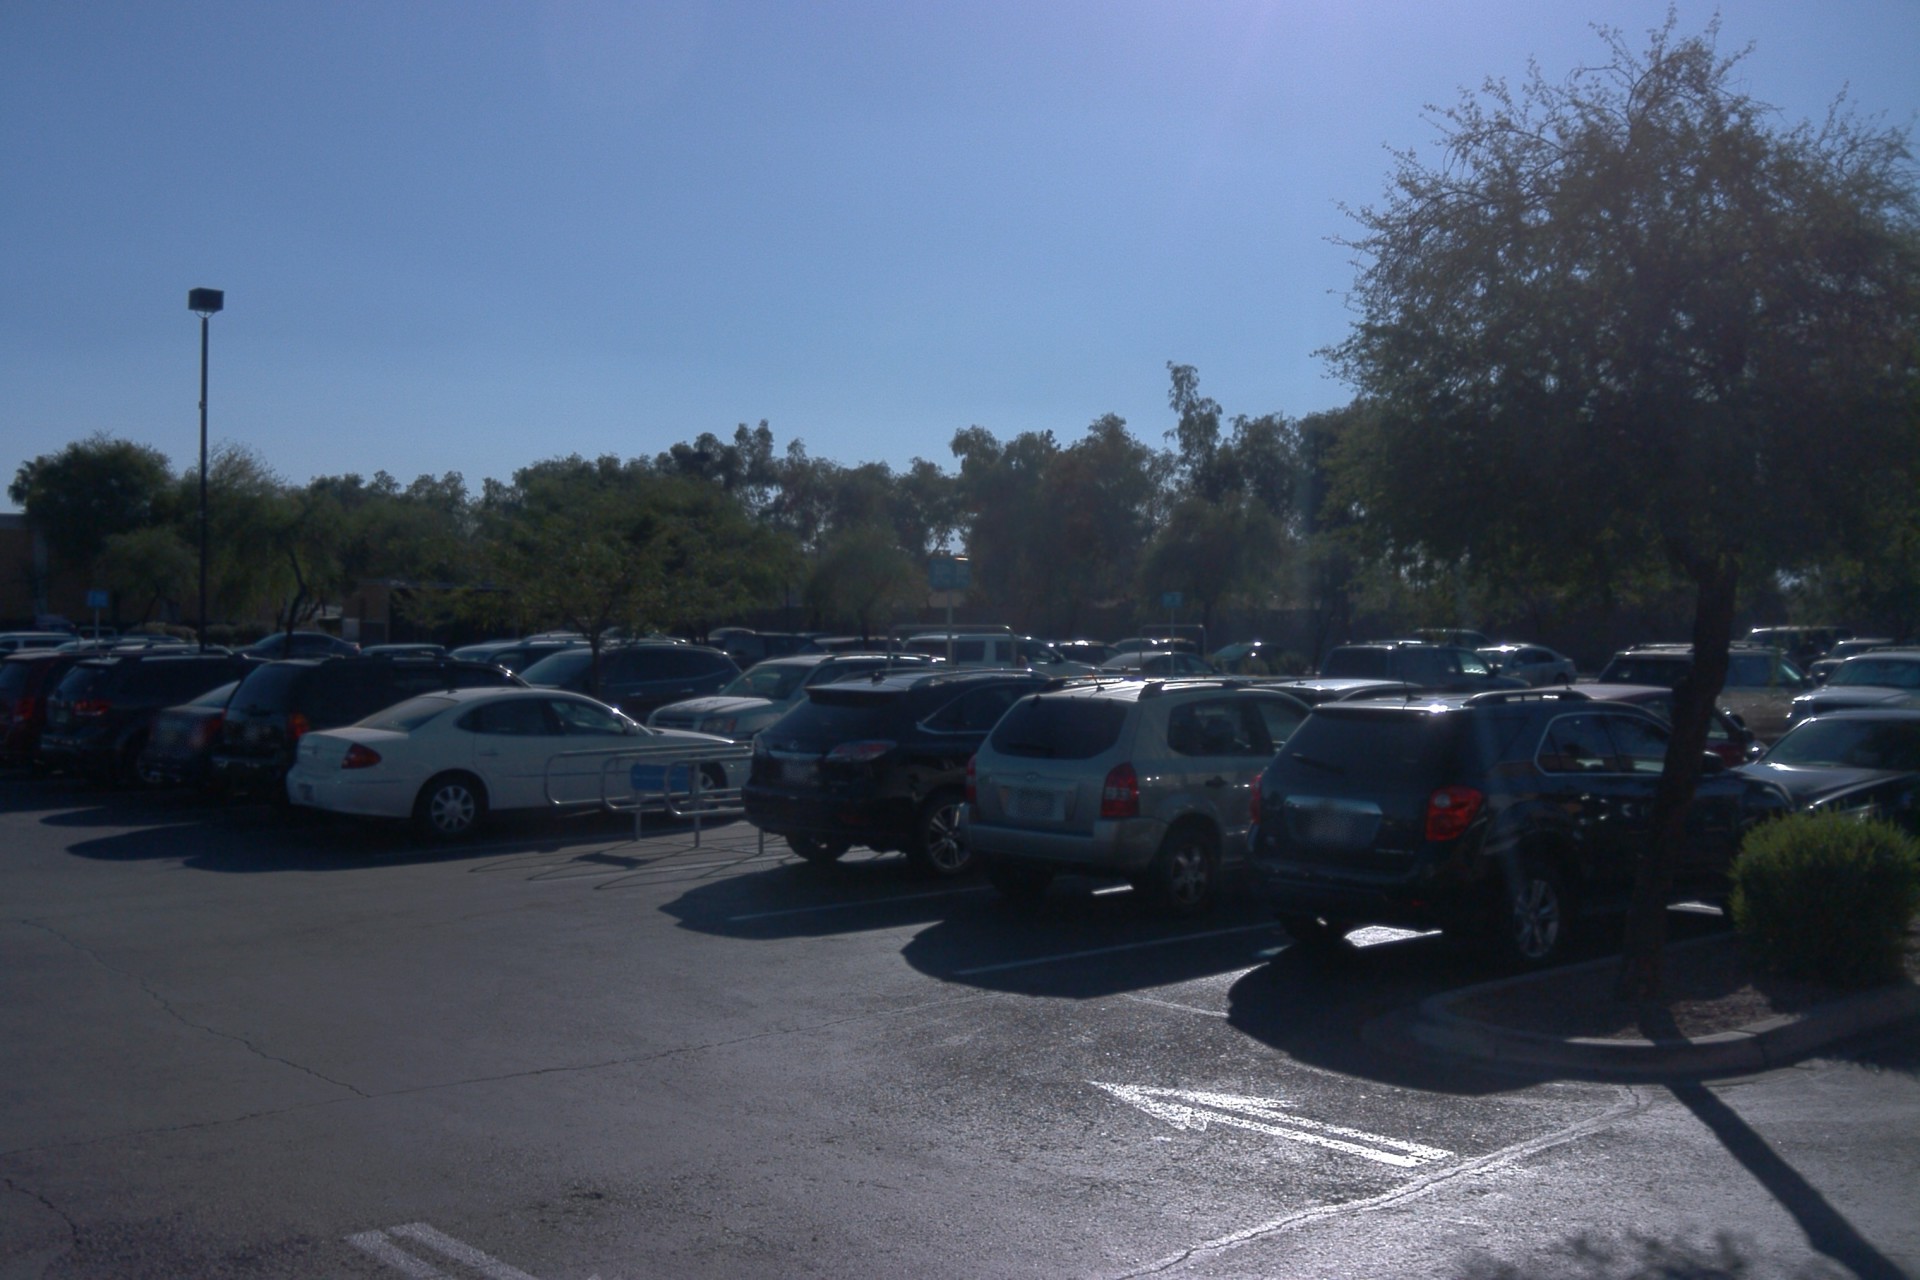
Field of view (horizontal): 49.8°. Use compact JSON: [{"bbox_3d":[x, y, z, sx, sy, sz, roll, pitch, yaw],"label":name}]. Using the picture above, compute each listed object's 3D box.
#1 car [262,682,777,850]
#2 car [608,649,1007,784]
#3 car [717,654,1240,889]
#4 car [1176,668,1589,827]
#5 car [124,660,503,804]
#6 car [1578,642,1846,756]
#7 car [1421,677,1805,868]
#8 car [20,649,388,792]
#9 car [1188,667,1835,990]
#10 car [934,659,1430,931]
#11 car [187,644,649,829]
[{"bbox_3d":[-4.453,1.208,21.432,4.892,1.510,1.978,1,-1,-42],"label":"car"},{"bbox_3d":[-1.930,0.953,27.506,2.222,1.620,5.086,0,-1,45],"label":"car"},{"bbox_3d":[0.258,1.062,18.460,4.518,1.850,1.910,1,-1,-41],"label":"car"},{"bbox_3d":[4.652,1.078,22.372,4.641,1.540,1.969,1,-1,-41],"label":"car"},{"bbox_3d":[-7.862,1.065,25.339,4.039,1.610,1.815,1,-1,-43],"label":"car"},{"bbox_3d":[11.932,0.896,32.644,4.588,1.690,1.921,1,-1,-40],"label":"car"},{"bbox_3d":[6.560,1.222,20.561,4.012,1.690,1.903,1,-1,-43],"label":"car"},{"bbox_3d":[-9.828,0.997,27.042,4.134,1.720,1.806,1,-1,-43],"label":"car"},{"bbox_3d":[3.879,1.106,14.076,4.663,1.830,1.995,1,-1,-41],"label":"car"},{"bbox_3d":[1.829,1.088,16.212,1.863,1.860,3.881,0,-1,44],"label":"car"},{"bbox_3d":[-6.073,1.008,23.485,4.580,1.890,2.196,1,-1,-43],"label":"car"}]
